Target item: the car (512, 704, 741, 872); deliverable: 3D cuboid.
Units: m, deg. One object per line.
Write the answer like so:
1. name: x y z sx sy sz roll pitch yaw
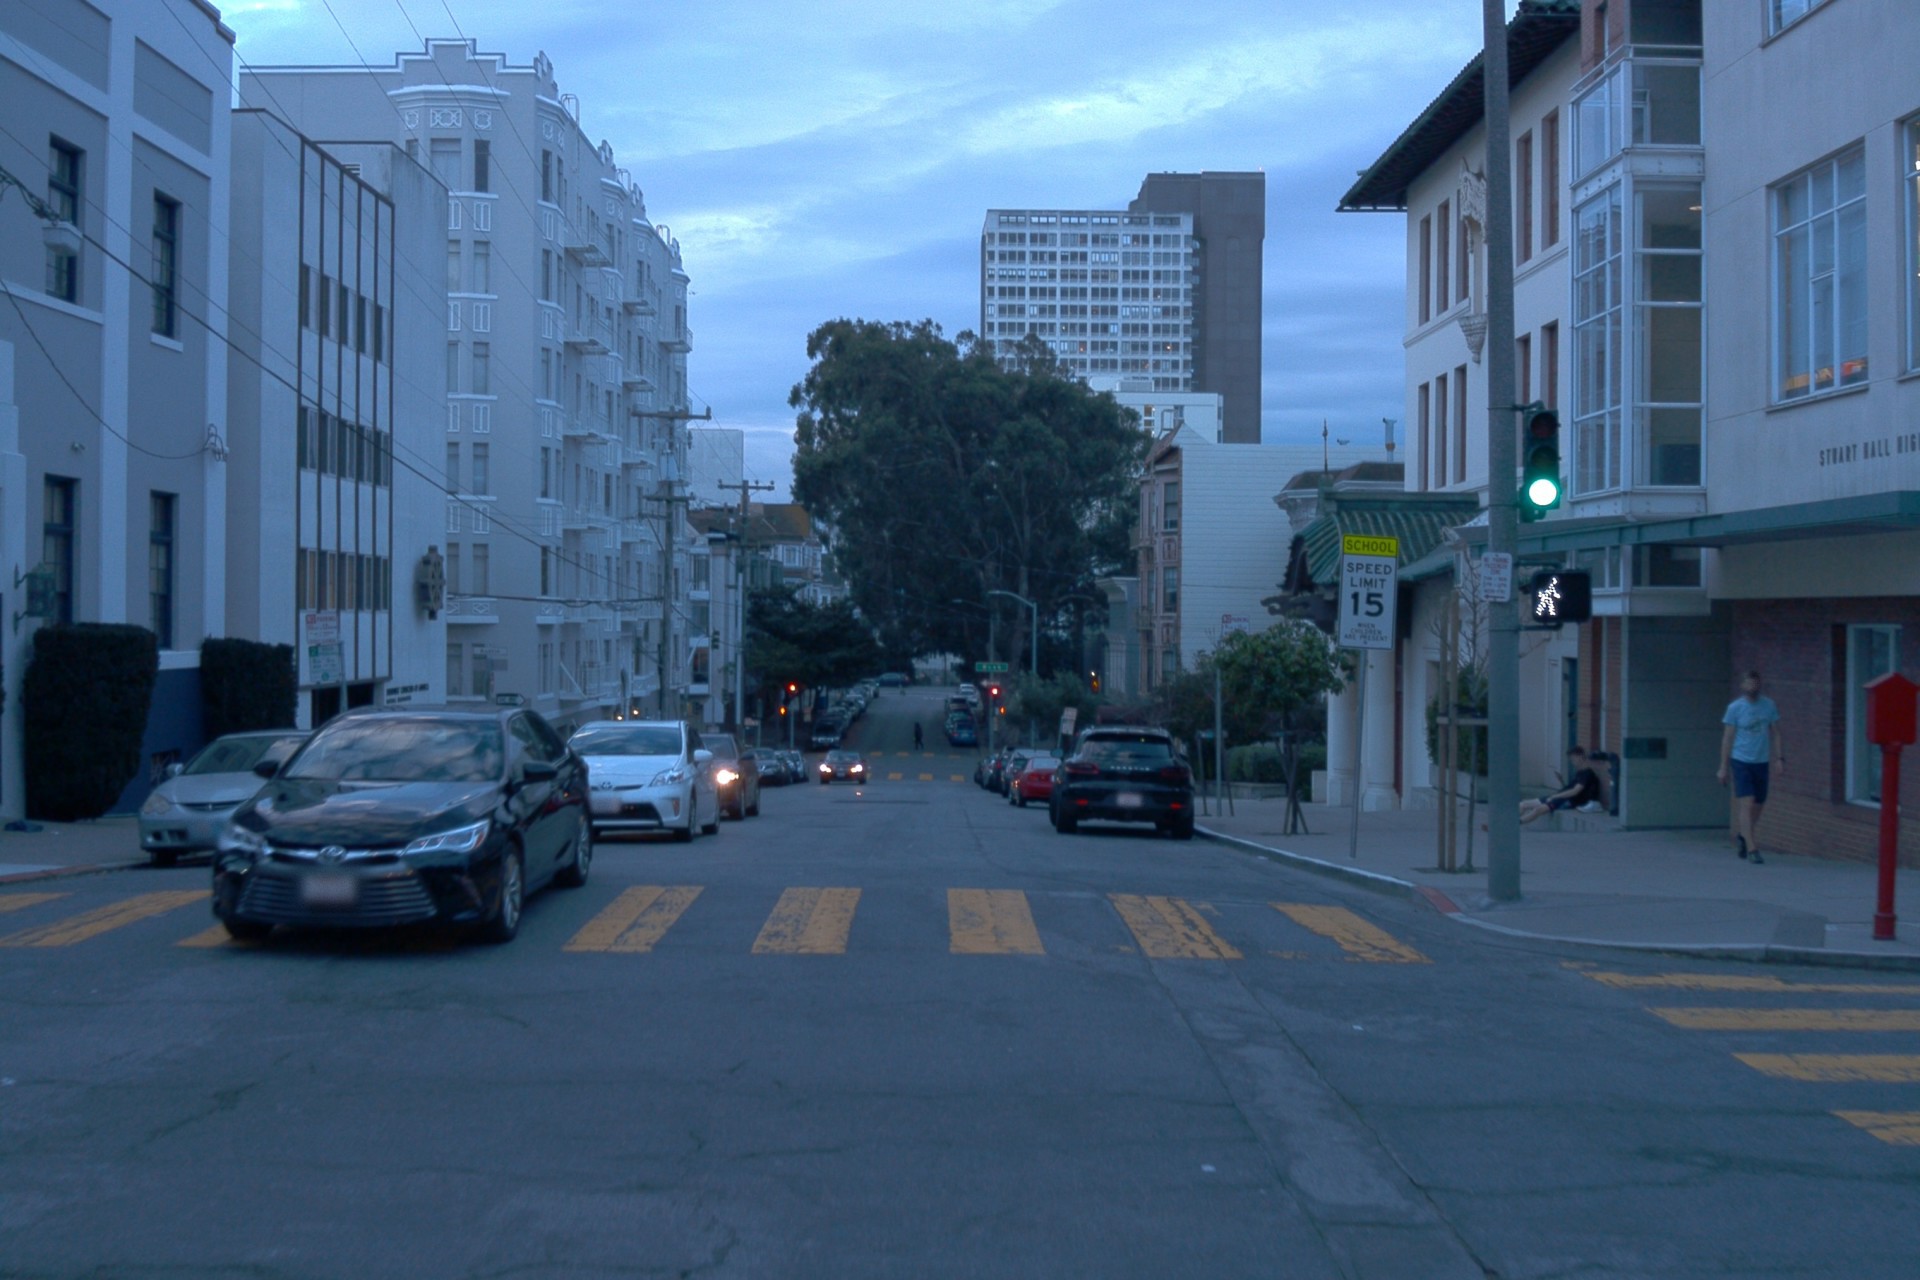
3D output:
1. car: -3.917 1.703 24.913 2.034 1.600 4.431 1 1 0

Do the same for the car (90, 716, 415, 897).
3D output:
1. car: -7.298 1.665 21.719 1.992 1.450 4.399 1 1 -1

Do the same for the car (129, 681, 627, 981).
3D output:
1. car: -3.751 1.151 14.271 2.144 1.530 4.749 1 1 -1

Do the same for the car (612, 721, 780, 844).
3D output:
1. car: -4.284 2.291 34.137 2.146 1.600 4.698 1 1 0

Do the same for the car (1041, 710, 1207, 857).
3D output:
1. car: 2.361 2.059 30.766 2.188 1.760 4.713 1 1 1

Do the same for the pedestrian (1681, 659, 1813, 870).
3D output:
1. pedestrian: 7.889 1.221 20.664 0.835 2.020 1.186 1 1 1

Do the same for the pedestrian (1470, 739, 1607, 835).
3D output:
1. pedestrian: 7.919 2.001 28.222 1.524 1.200 1.090 1 1 -2
